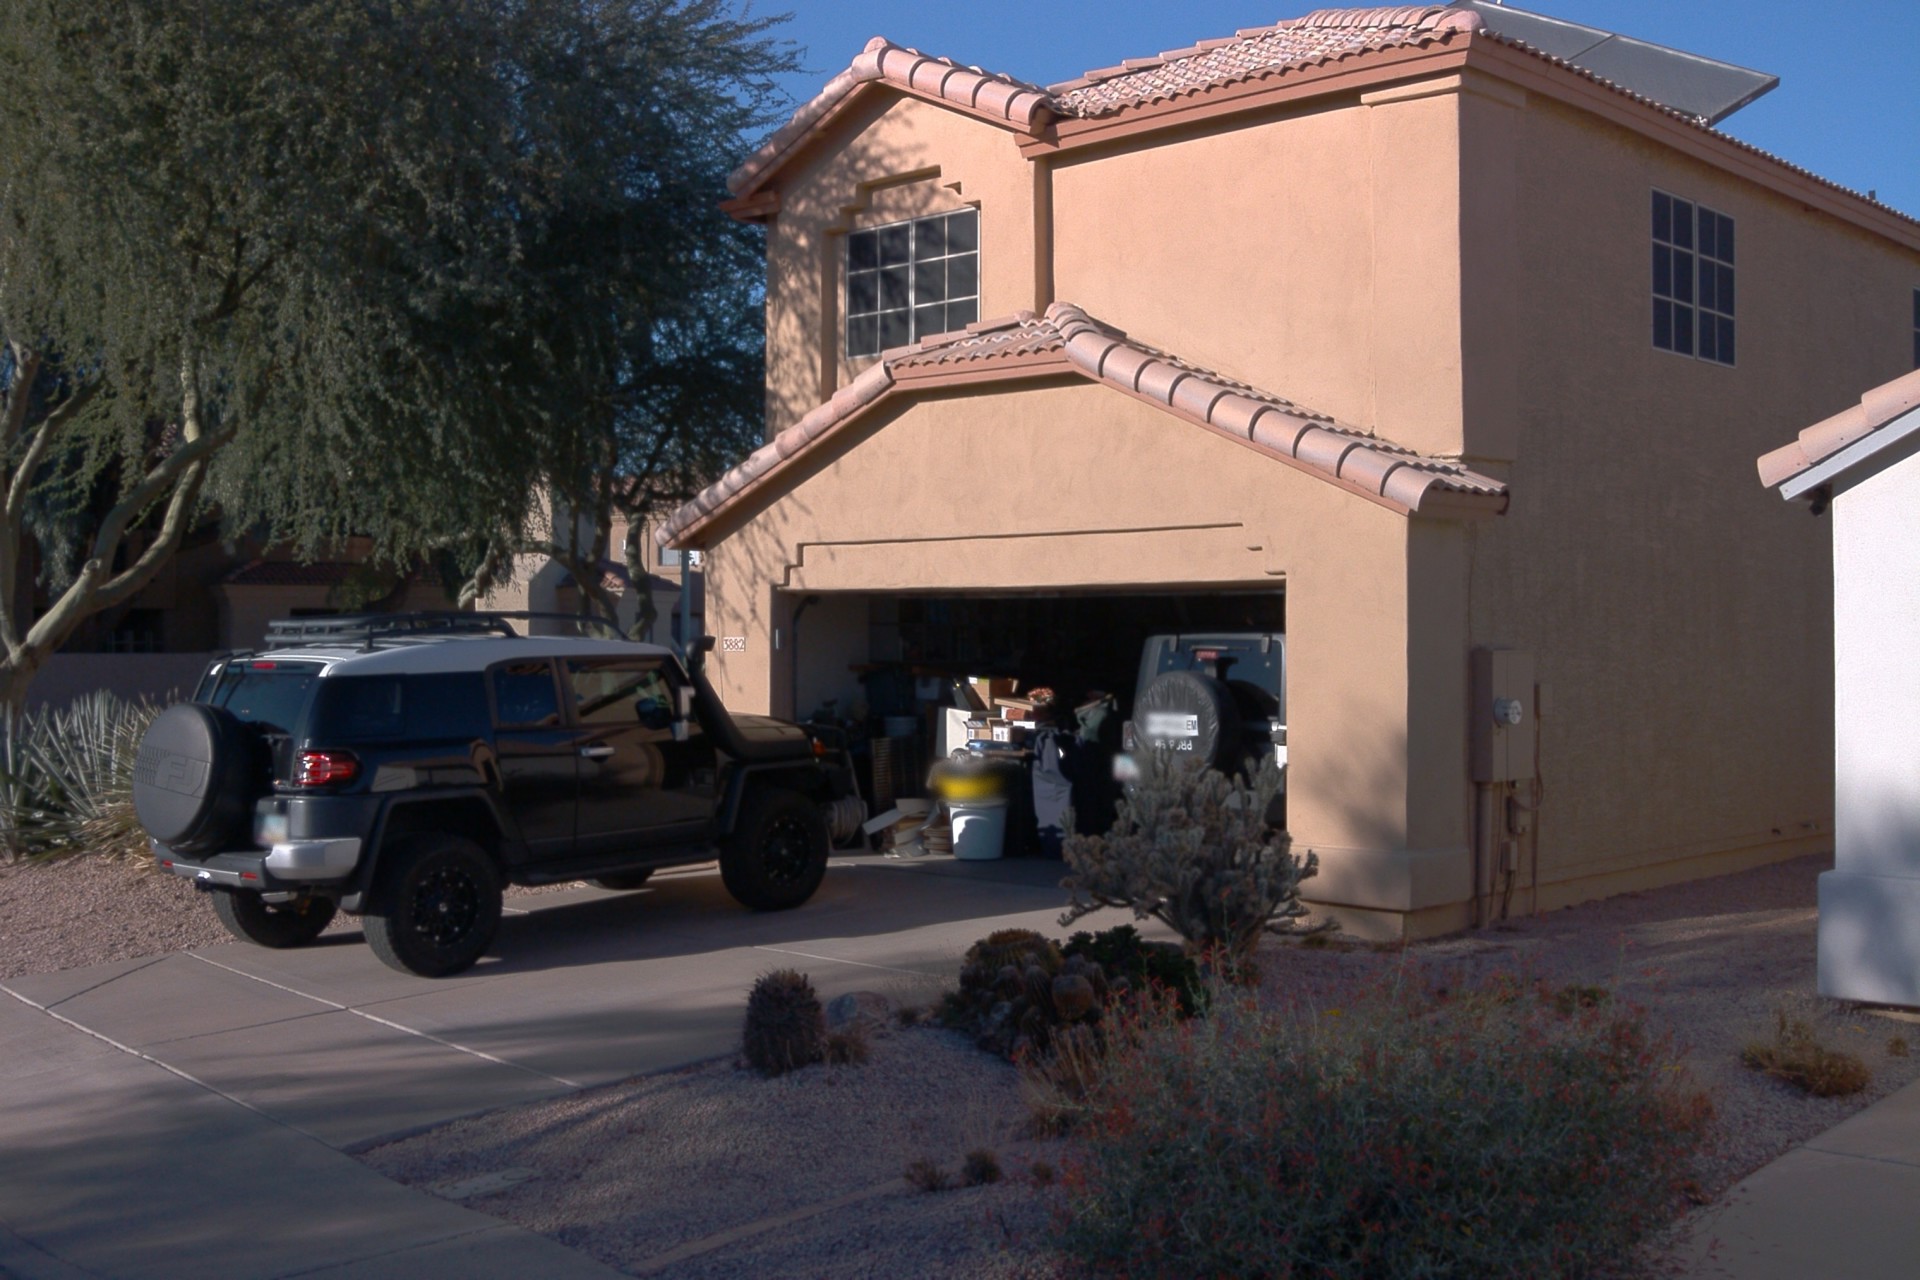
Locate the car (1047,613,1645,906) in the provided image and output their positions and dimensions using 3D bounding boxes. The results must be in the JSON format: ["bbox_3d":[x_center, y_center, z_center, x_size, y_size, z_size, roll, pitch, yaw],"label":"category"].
[{"bbox_3d":[3.100,0.804,15.774,2.058,1.880,4.981,0,-1,44],"label":"car"}]

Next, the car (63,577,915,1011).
[{"bbox_3d":[-2.772,0.834,13.194,2.028,2.240,4.978,0,-1,43],"label":"car"}]
